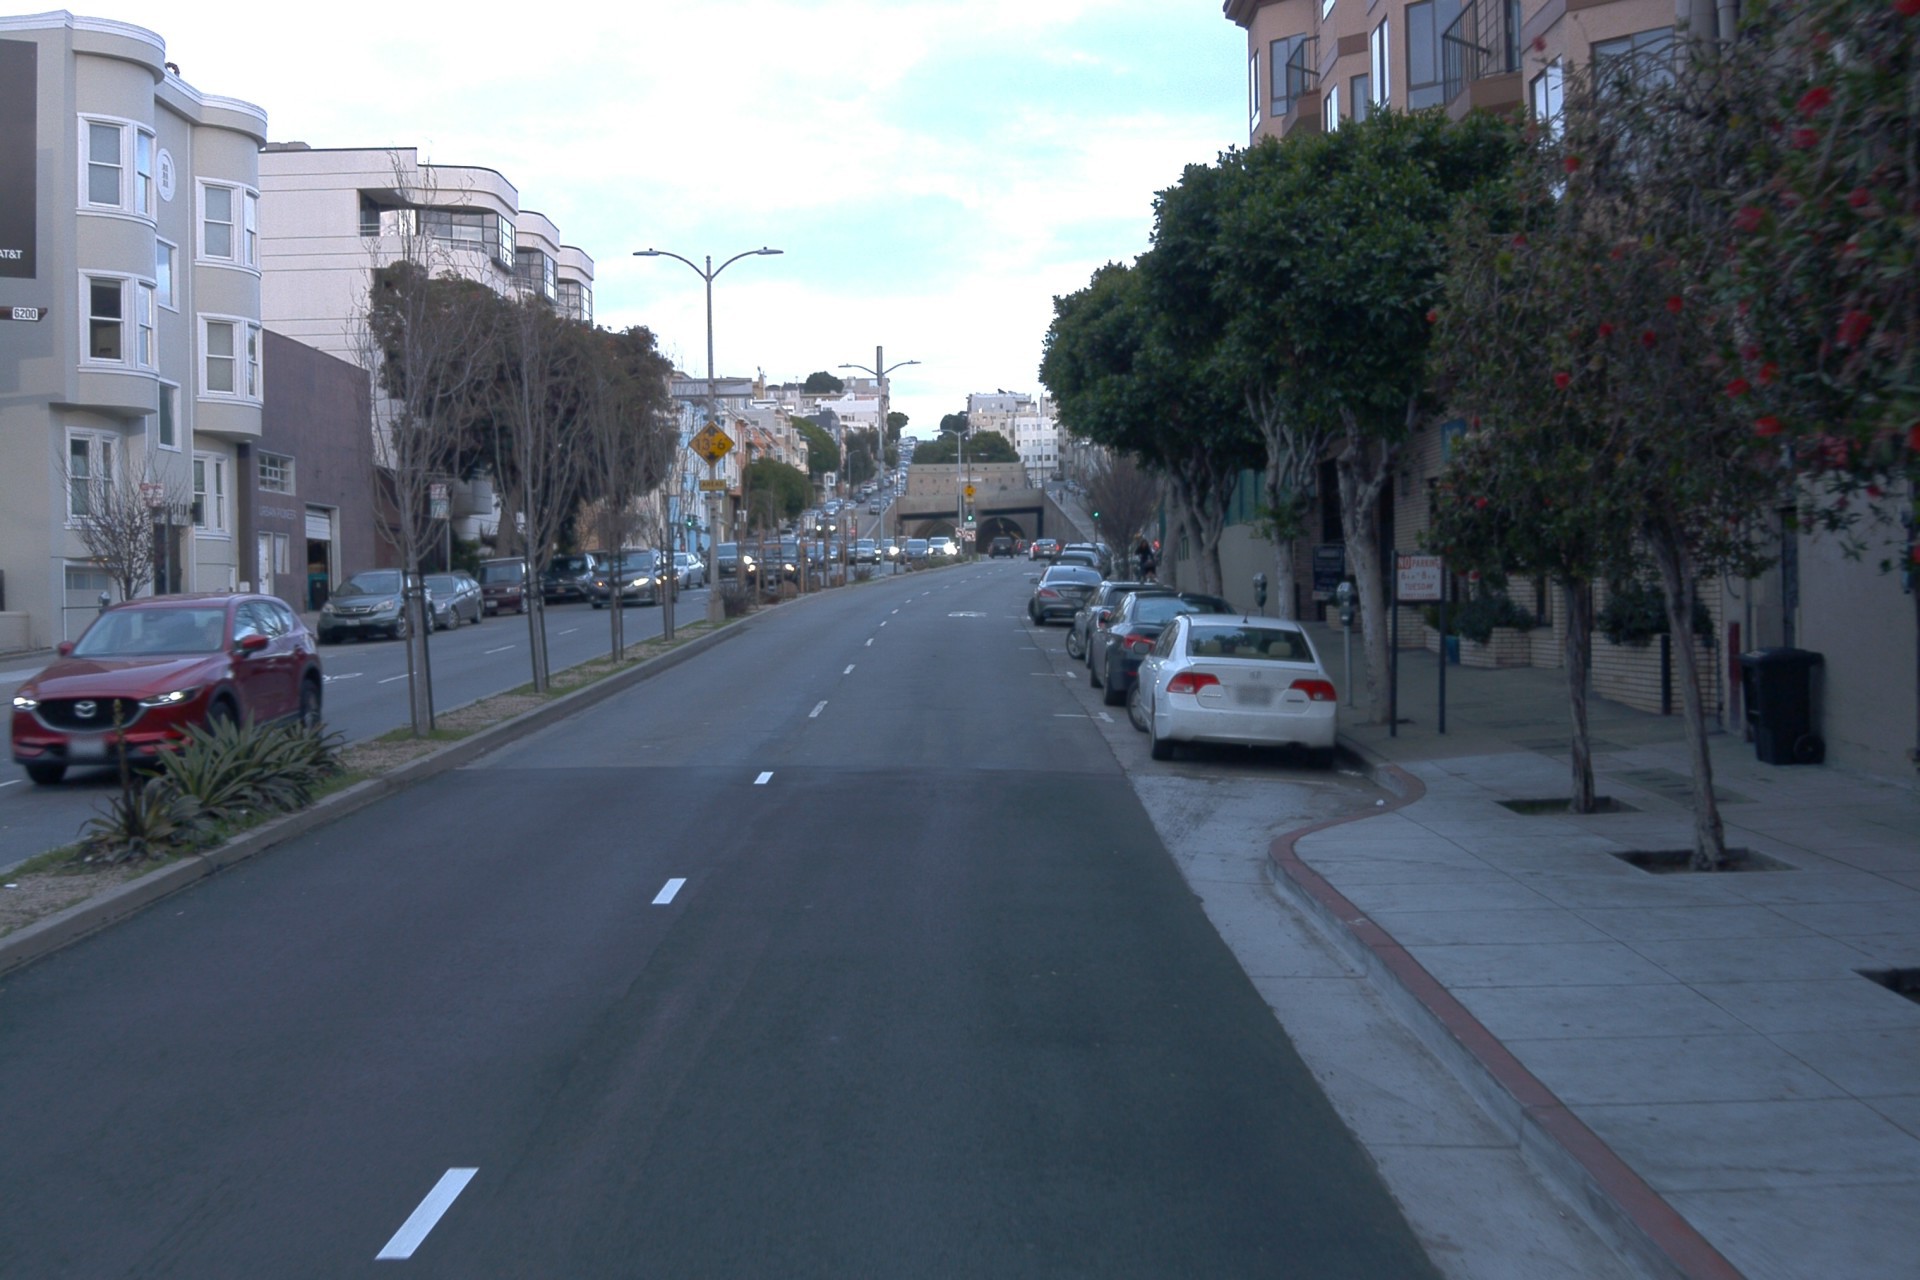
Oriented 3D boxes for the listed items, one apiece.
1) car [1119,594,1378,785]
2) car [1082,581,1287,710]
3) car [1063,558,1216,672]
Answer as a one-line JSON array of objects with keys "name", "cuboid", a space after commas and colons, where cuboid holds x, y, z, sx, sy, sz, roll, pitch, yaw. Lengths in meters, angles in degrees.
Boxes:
[{"name": "car", "cuboid": [2.845, 0.435, 21.361, 2.061, 1.750, 4.614, 1, 1, 1]}, {"name": "car", "cuboid": [2.841, 0.038, 27.259, 2.151, 1.530, 5.003, 1, 1, 0]}, {"name": "car", "cuboid": [2.918, -0.413, 34.421, 1.990, 1.770, 4.210, 1, 1, -2]}]
